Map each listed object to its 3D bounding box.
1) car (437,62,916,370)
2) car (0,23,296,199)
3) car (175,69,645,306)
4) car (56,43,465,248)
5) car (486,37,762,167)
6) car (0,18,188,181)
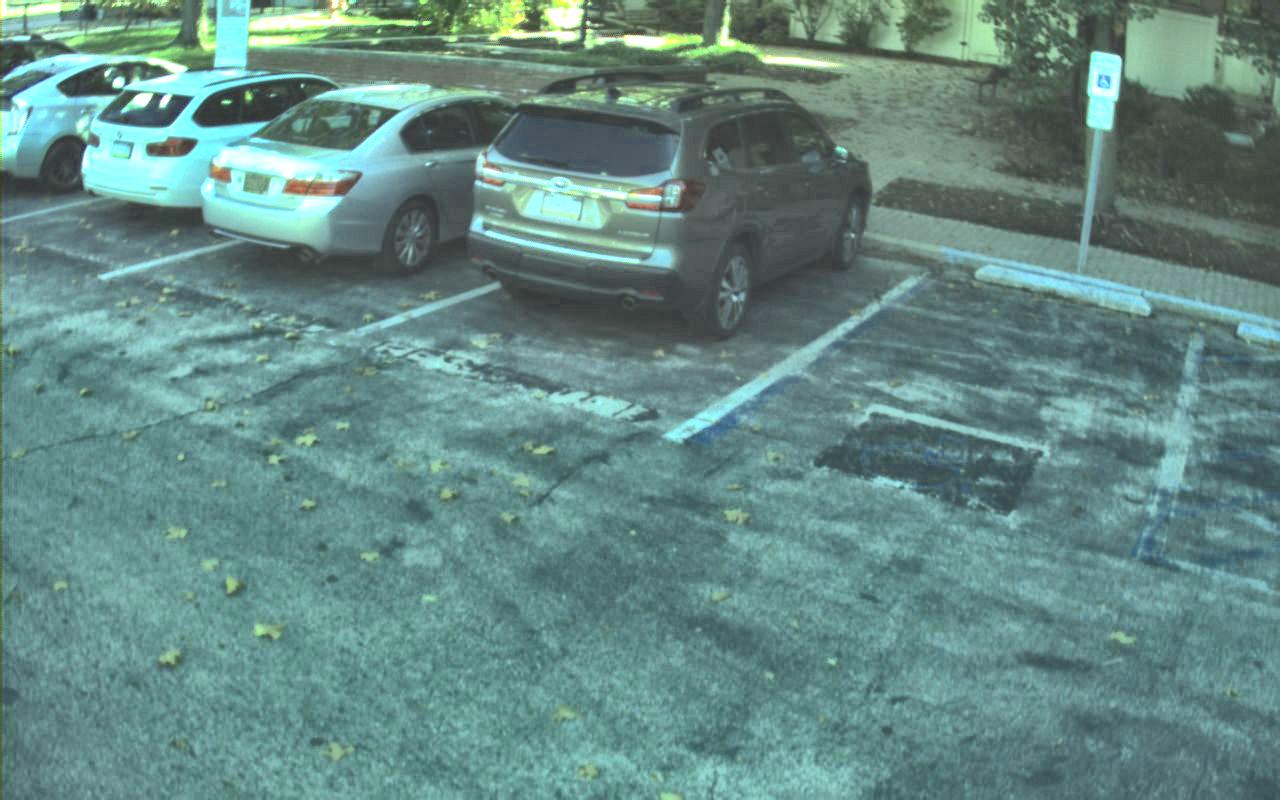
[{"bbox_3d":[0.638,-1.821,10.362,2.042,1.807,4.835,8,19,27],"label":"car"},{"bbox_3d":[-6.416,-3.589,13.989,1.944,1.611,4.473,8,19,28],"label":"car"},{"bbox_3d":[-1.921,-2.139,11.274,1.908,1.536,4.478,8,19,30],"label":"car"},{"bbox_3d":[-3.966,-2.842,12.790,1.925,1.626,4.435,8,19,28],"label":"car"},{"bbox_3d":[-0.069,-4.406,17.868,2.007,1.585,4.572,8,19,28],"label":"car"},{"bbox_3d":[-8.469,-4.146,15.192,1.955,1.688,4.483,8,19,29],"label":"car"}]
